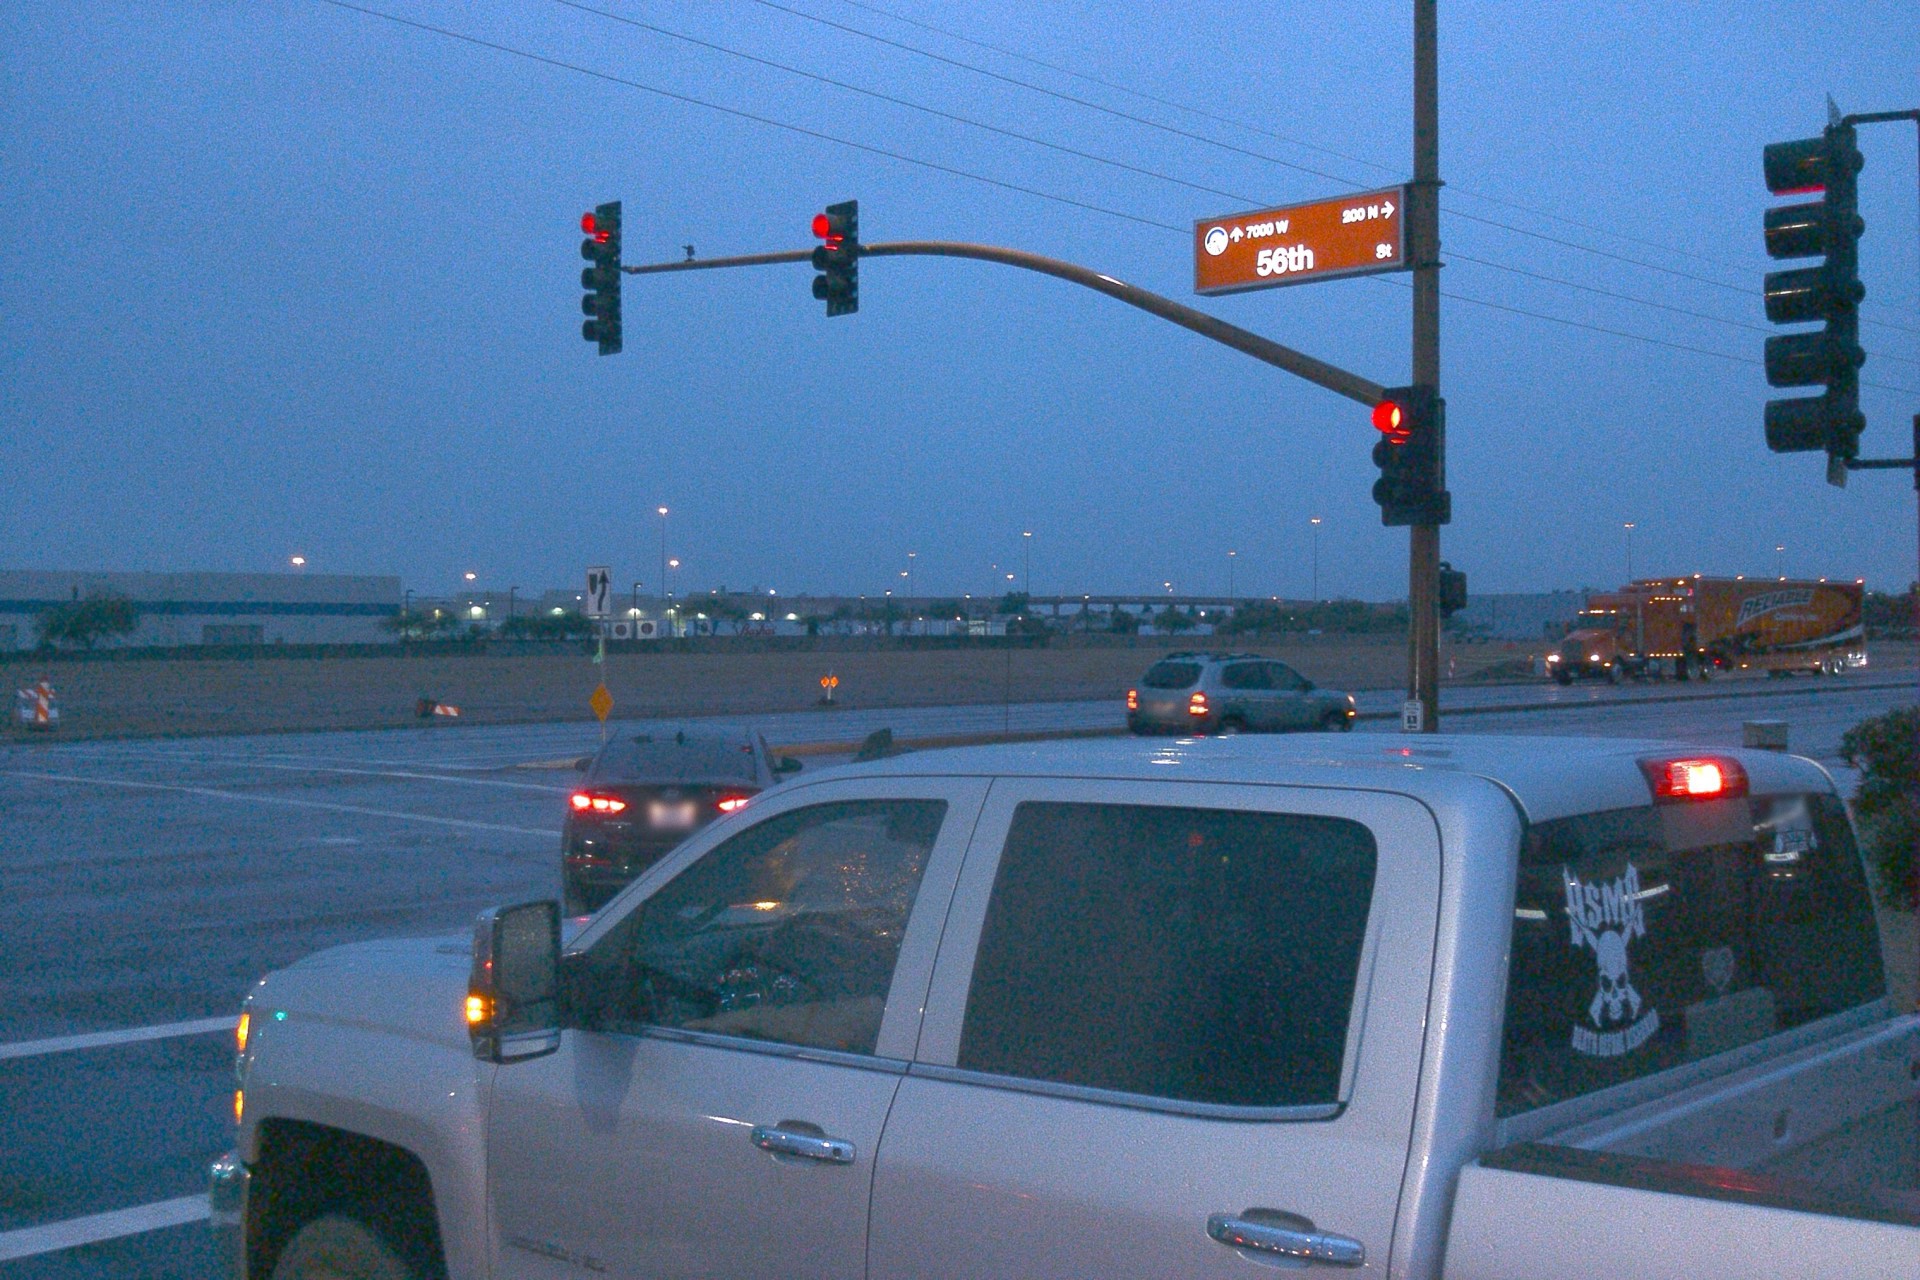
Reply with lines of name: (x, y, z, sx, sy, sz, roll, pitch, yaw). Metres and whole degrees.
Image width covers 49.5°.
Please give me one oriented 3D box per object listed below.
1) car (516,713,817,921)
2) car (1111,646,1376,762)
car: (-2.332, 1.395, 17.724, 2.122, 1.430, 4.525, 0, -1, -3)
car: (4.757, 1.018, 34.618, 4.301, 1.810, 2.076, 1, -1, -42)
